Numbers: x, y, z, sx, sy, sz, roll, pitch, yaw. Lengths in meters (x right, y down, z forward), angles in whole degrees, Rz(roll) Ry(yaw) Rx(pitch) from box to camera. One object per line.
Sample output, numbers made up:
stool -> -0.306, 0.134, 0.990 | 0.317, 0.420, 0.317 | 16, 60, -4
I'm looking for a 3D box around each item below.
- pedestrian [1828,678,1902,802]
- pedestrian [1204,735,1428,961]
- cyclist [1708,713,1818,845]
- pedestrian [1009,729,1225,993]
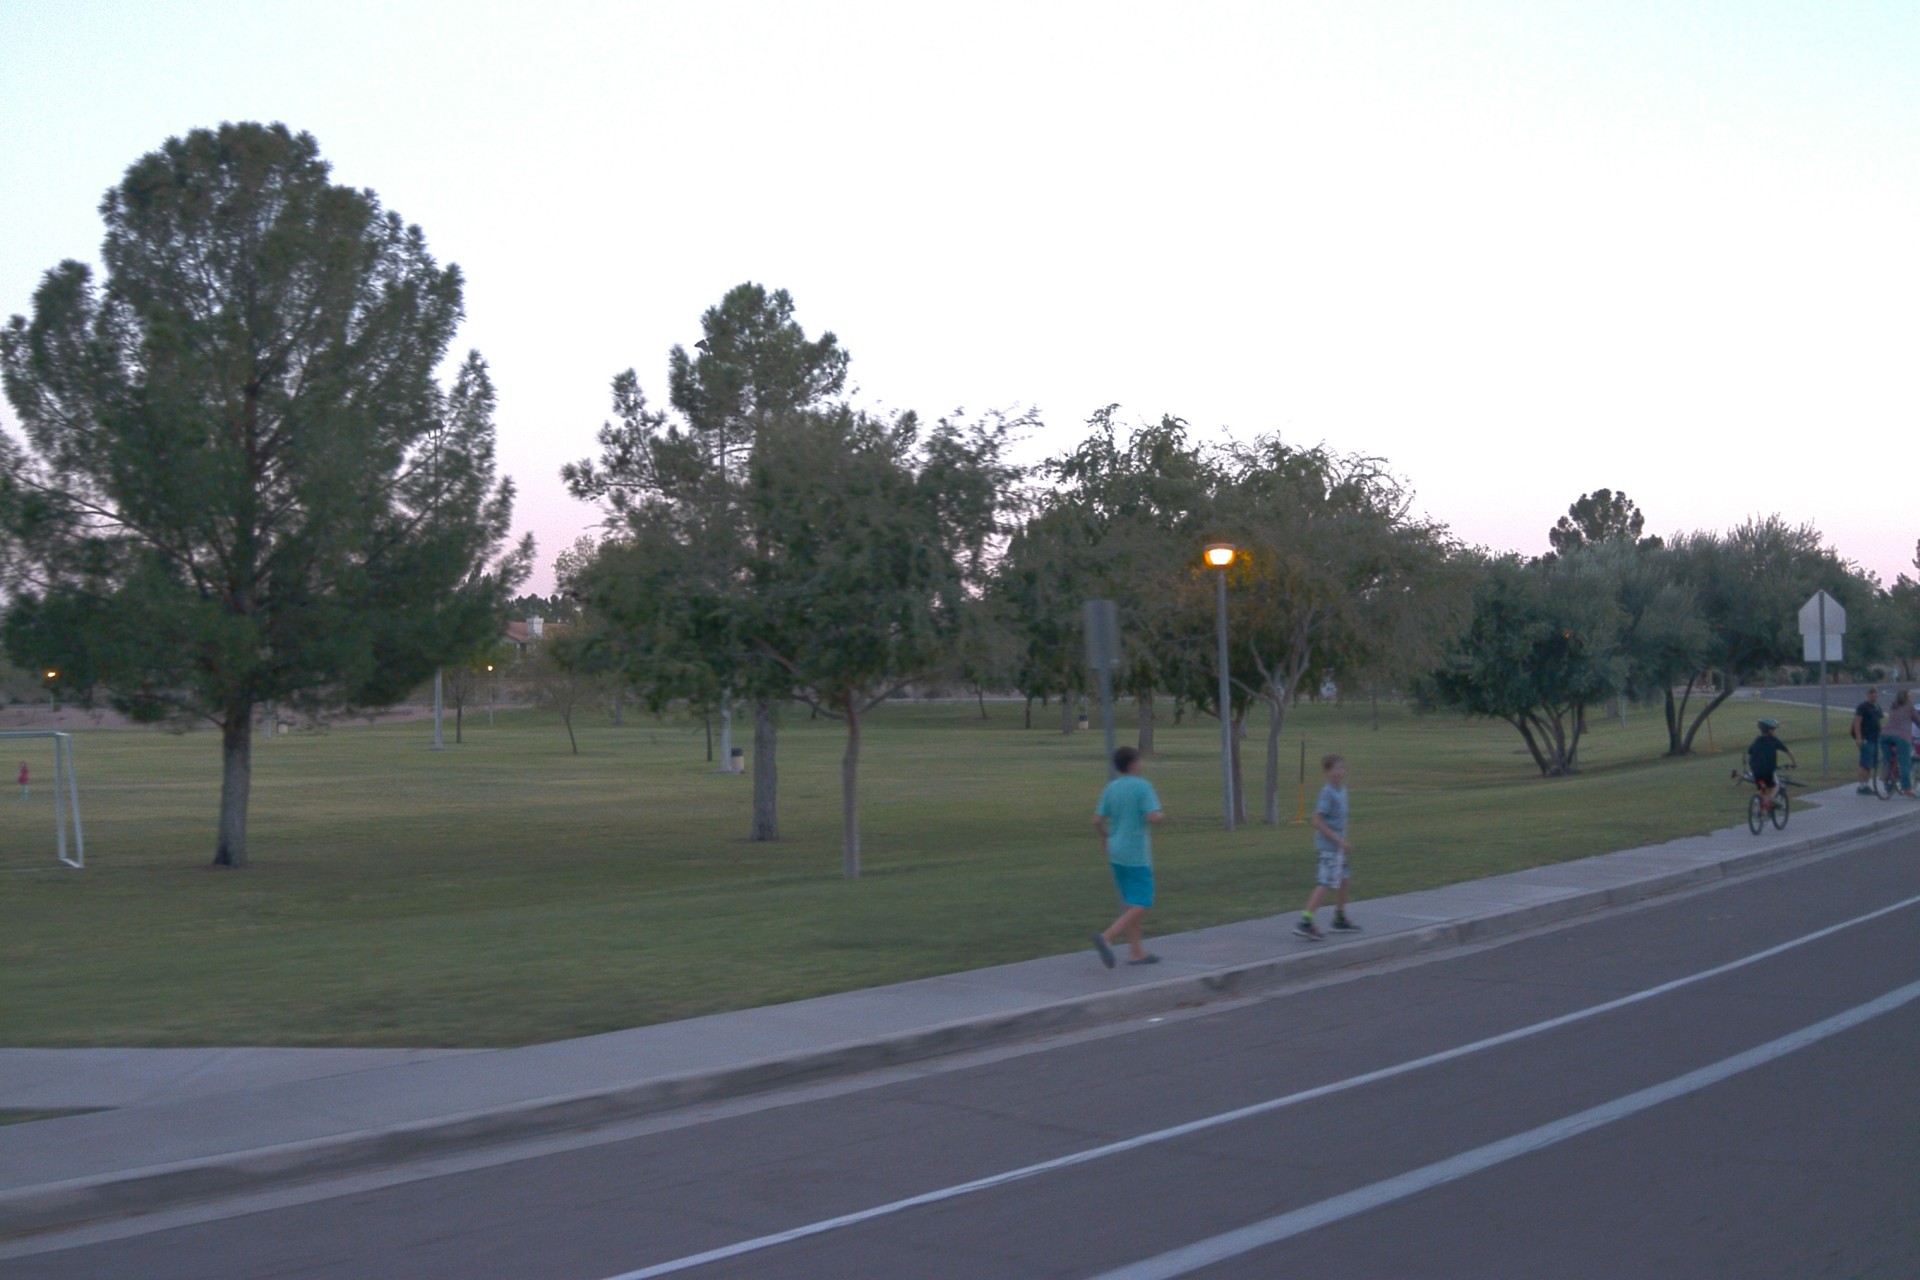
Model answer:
pedestrian -> 13.893, 1.515, 32.075 | 0.835, 1.840, 0.887 | 0, 0, 38
pedestrian -> 2.707, 1.541, 15.920 | 1.291, 1.560, 1.086 | 1, 0, -37
cyclist -> 9.618, 1.636, 25.007 | 0.772, 1.460, 1.641 | 0, 0, 38
pedestrian -> 1.093, 1.486, 14.494 | 0.990, 1.680, 1.119 | 0, 0, 45
